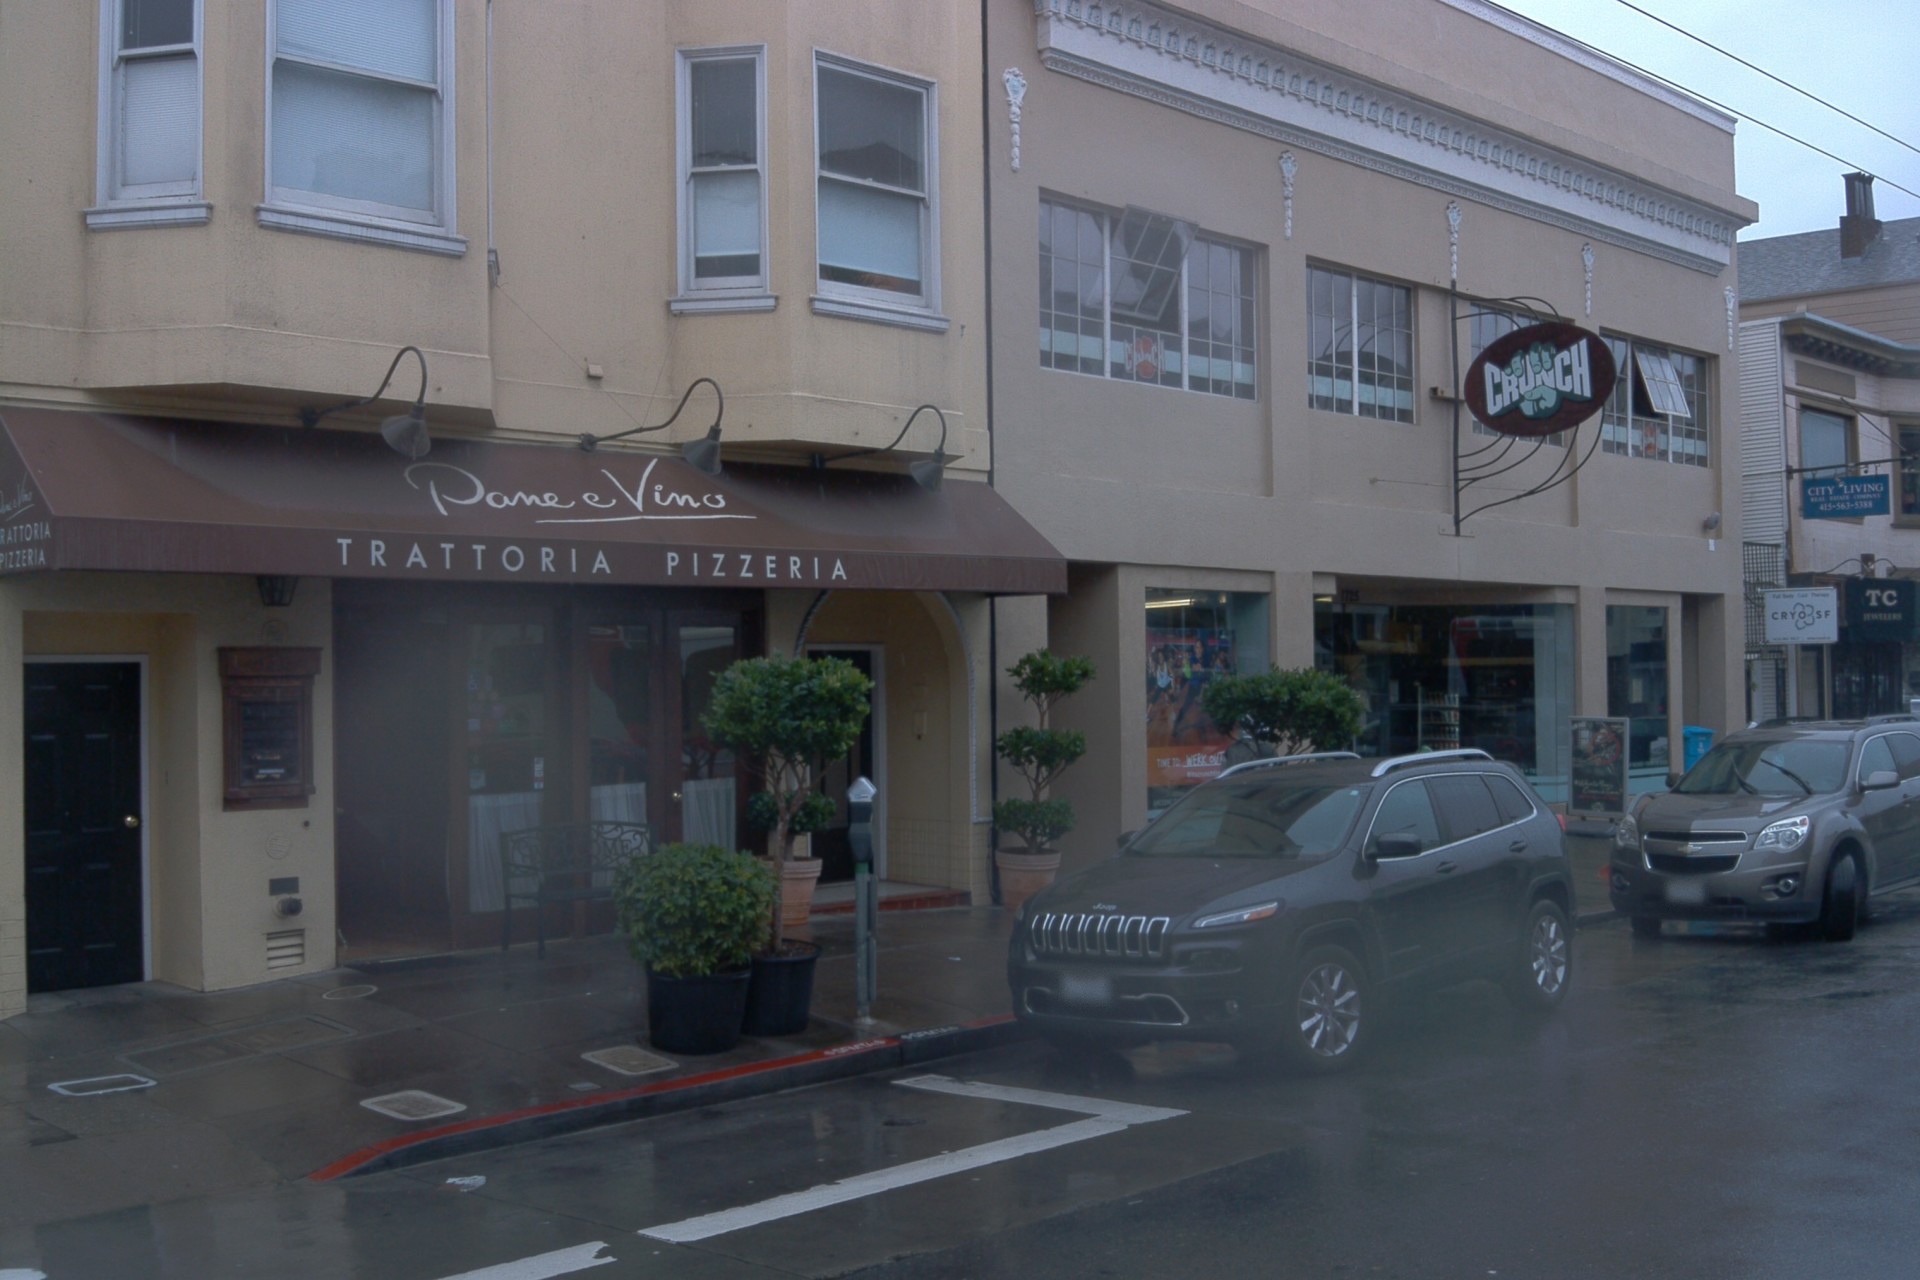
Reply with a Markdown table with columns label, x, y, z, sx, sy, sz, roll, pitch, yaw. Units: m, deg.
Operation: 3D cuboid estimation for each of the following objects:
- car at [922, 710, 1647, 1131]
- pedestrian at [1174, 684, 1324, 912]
| label | x | y | z | sx | sy | sz | roll | pitch | yaw |
| --- | --- | --- | --- | --- | --- | --- | --- | --- | --- |
| car | 2.186 | 1.450 | 12.594 | 2.113 | 1.830 | 4.891 | 2 | 1 | 40 |
| pedestrian | 2.426 | 1.290 | 17.336 | 0.729 | 1.800 | 1.056 | 2 | 1 | 44 |
